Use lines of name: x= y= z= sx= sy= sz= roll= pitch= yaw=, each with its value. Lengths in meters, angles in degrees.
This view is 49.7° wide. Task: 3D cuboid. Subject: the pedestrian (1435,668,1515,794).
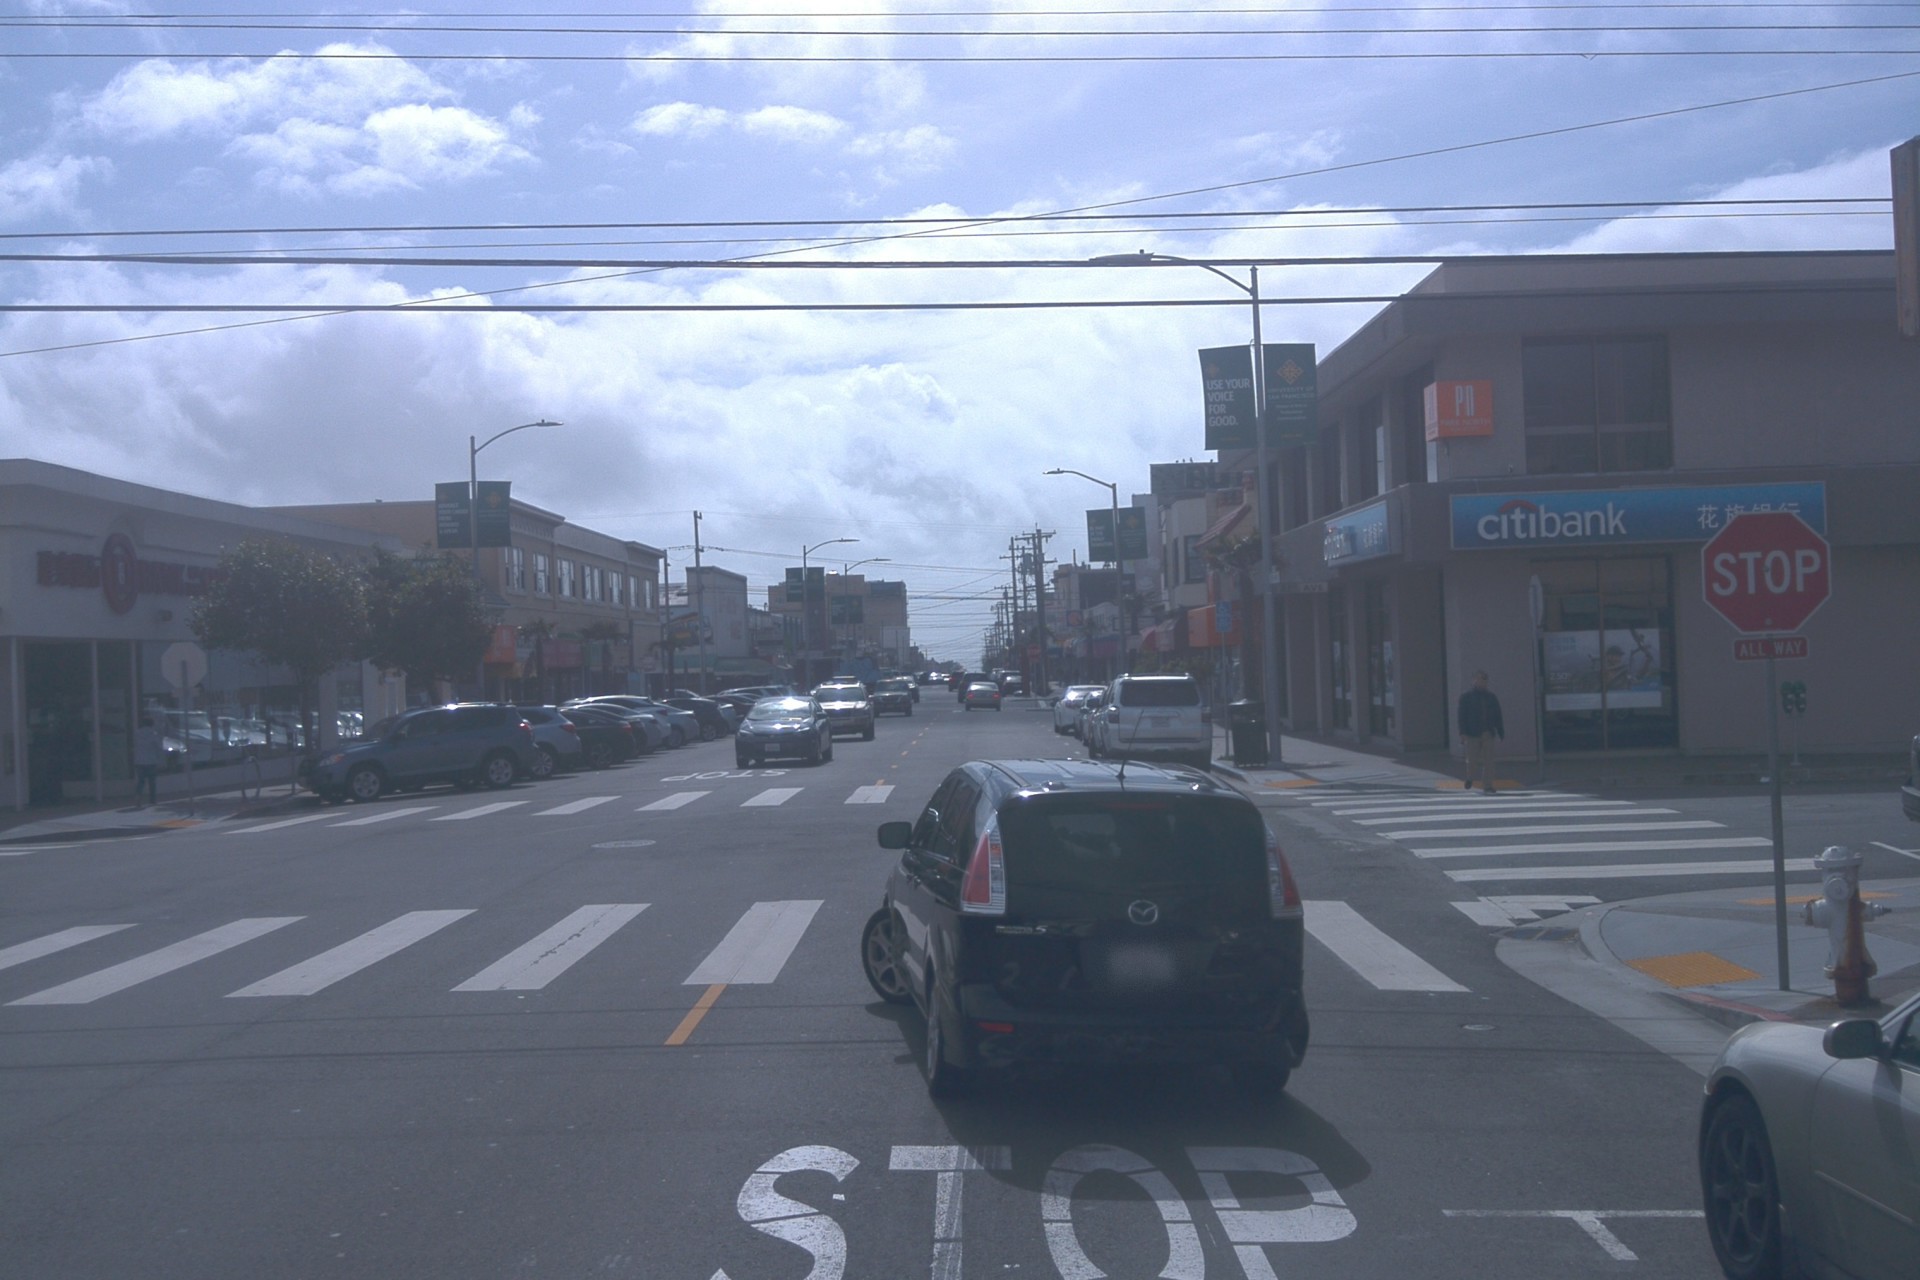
pedestrian: x=7.179 y=1.256 z=28.936 sx=0.849 sy=1.734 sz=0.948 roll=0 pitch=-1 yaw=-2

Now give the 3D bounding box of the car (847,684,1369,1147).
car: x=0.537 y=1.244 z=11.378 sx=2.097 sy=1.972 sz=4.568 roll=0 pitch=-1 yaw=-6

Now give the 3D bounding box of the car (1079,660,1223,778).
car: x=3.372 y=1.372 z=37.478 sx=2.072 sy=1.977 sz=4.682 roll=0 pitch=-1 yaw=-1
